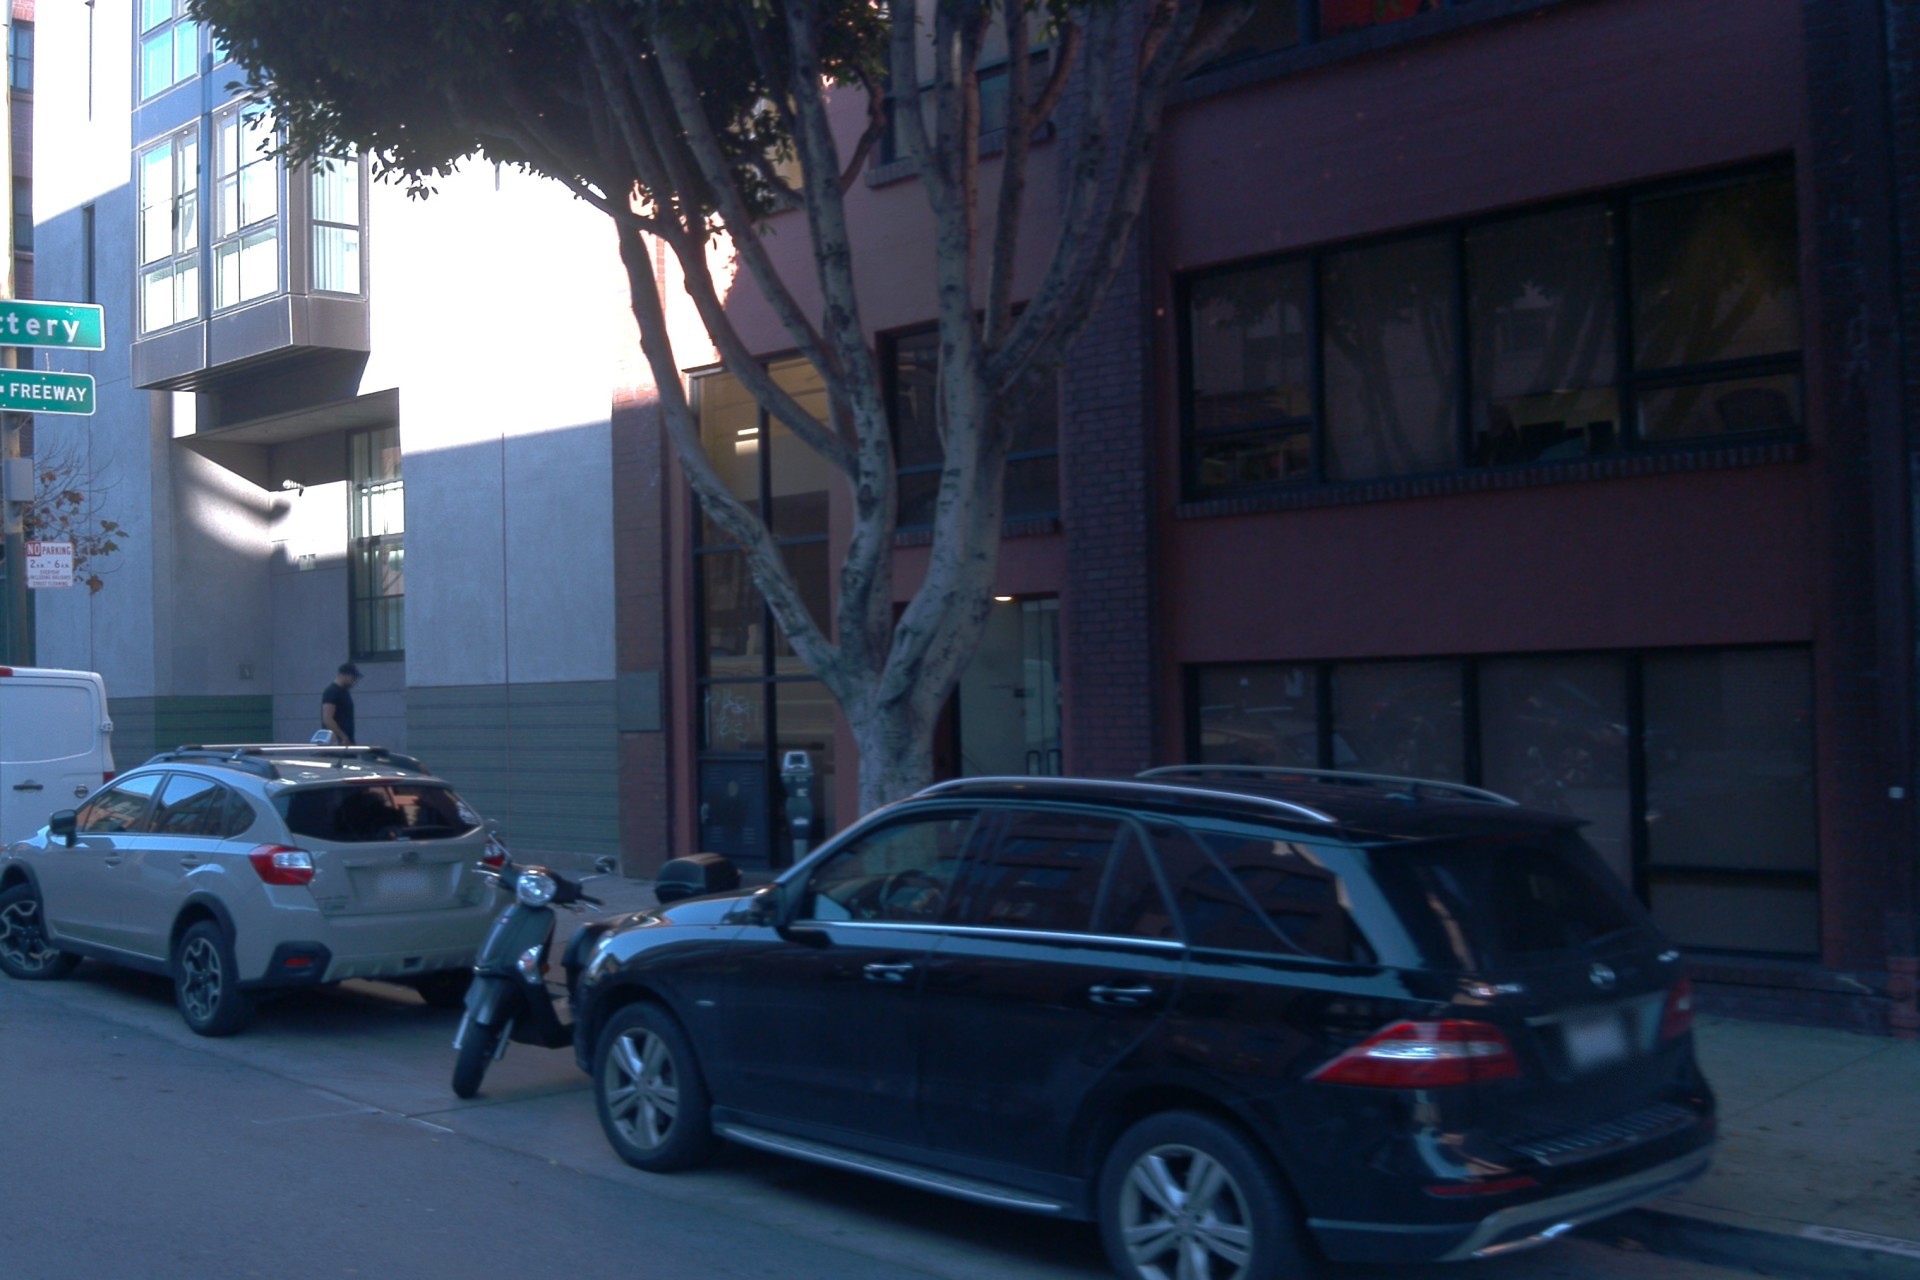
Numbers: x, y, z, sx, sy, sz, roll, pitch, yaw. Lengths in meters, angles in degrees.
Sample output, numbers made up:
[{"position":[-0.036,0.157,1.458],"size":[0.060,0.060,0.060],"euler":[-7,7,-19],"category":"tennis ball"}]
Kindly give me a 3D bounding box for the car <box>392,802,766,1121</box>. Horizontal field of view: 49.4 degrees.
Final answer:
[{"position":[-1.970,1.625,11.025],"size":[0.719,1.410,1.914],"euler":[0,0,40],"category":"car"}]

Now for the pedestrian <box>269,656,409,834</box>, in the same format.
[{"position":[-6.723,1.112,22.588],"size":[1.022,1.860,1.055],"euler":[0,0,40],"category":"pedestrian"}]

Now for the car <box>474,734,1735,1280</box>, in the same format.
[{"position":[0.272,1.414,8.503],"size":[2.125,1.860,4.965],"euler":[1,0,-44],"category":"car"}]
